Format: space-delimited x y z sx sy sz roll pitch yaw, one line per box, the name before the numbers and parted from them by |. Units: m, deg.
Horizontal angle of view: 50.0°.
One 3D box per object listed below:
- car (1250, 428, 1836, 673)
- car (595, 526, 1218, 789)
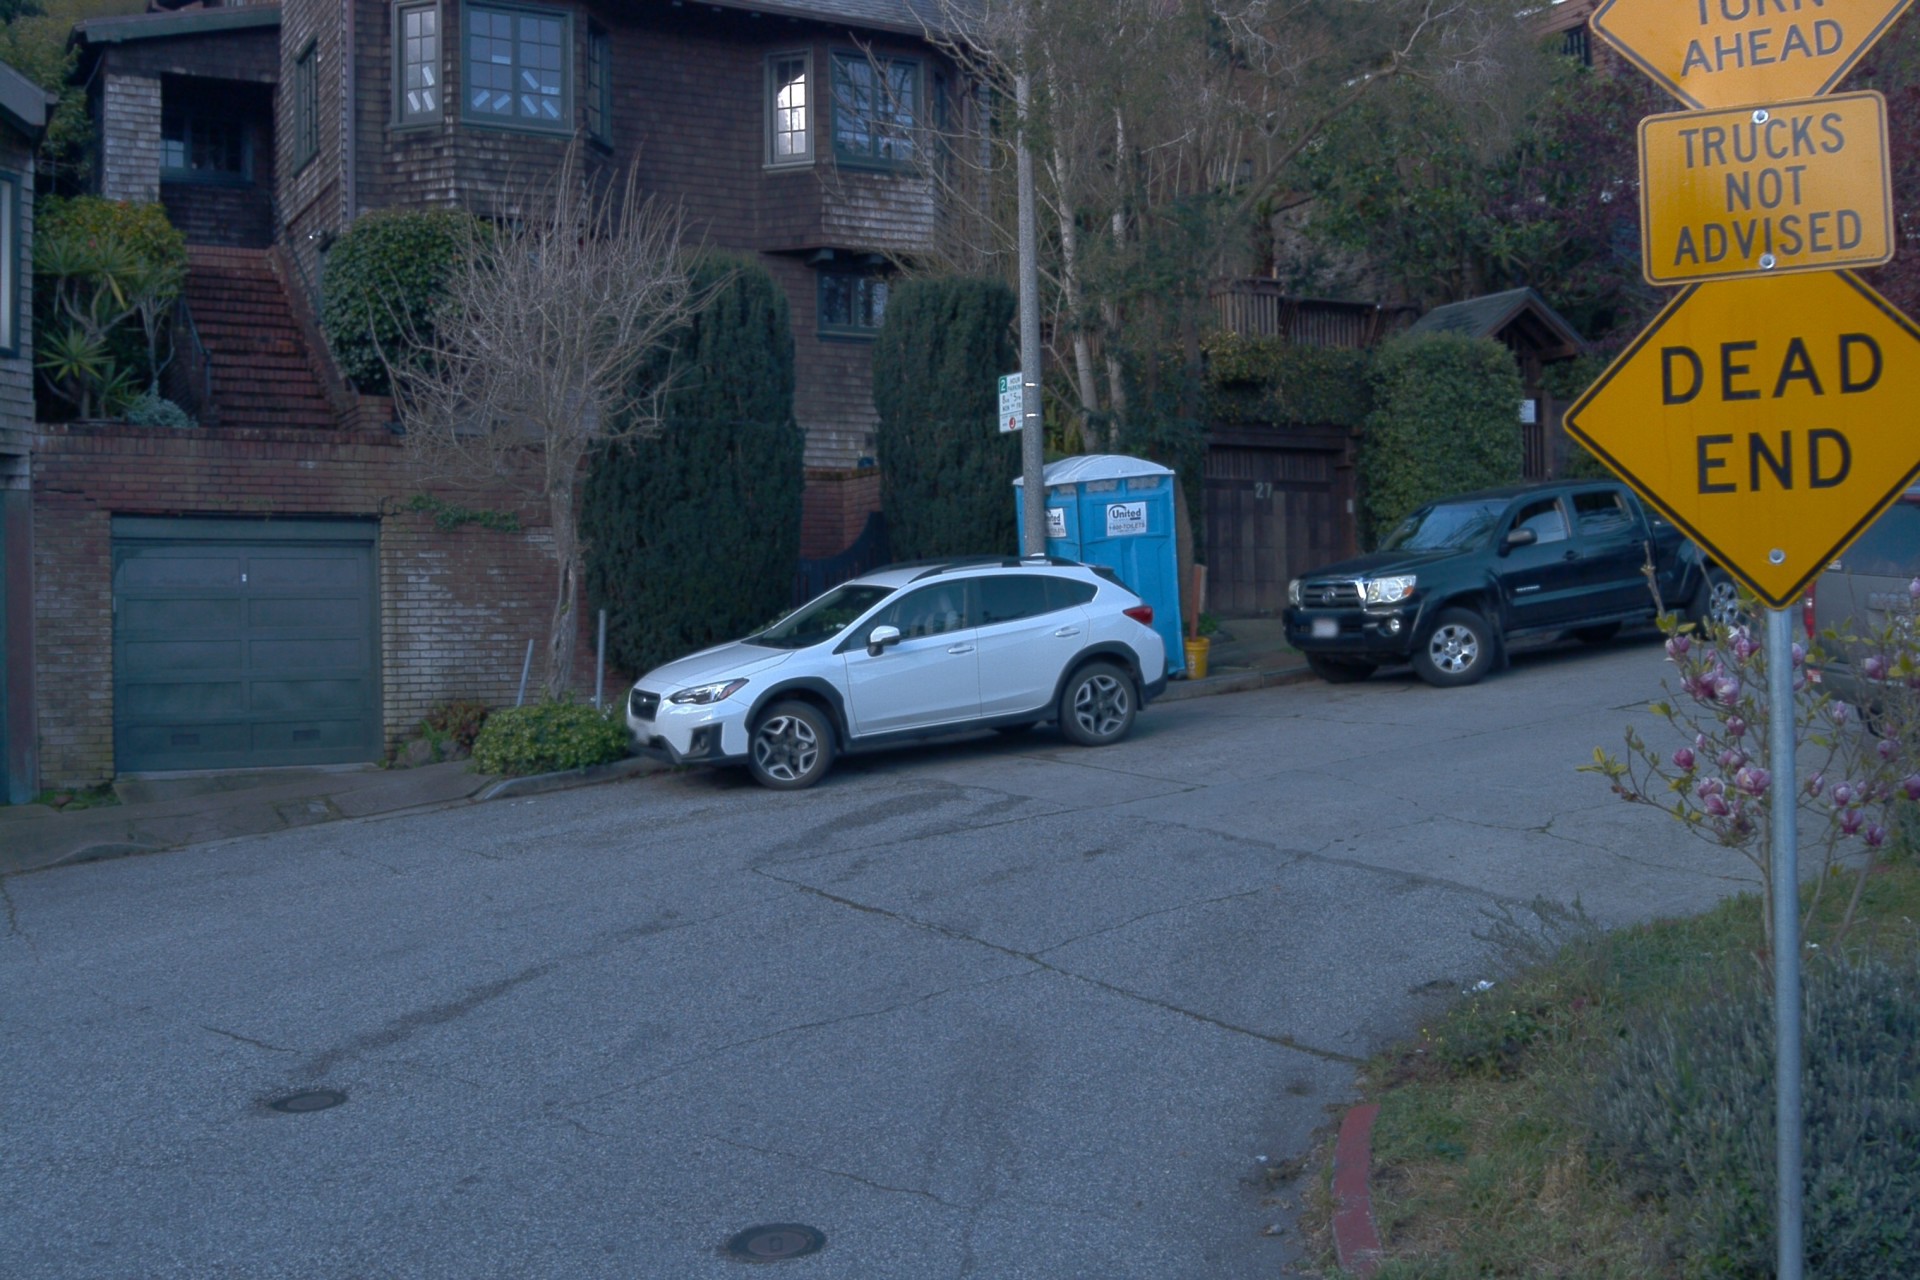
car | 5.857 -0.778 20.418 5.768 2.139 2.255 0 0 -31
car | -0.440 0.127 16.995 4.662 1.919 2.143 0 0 -25
